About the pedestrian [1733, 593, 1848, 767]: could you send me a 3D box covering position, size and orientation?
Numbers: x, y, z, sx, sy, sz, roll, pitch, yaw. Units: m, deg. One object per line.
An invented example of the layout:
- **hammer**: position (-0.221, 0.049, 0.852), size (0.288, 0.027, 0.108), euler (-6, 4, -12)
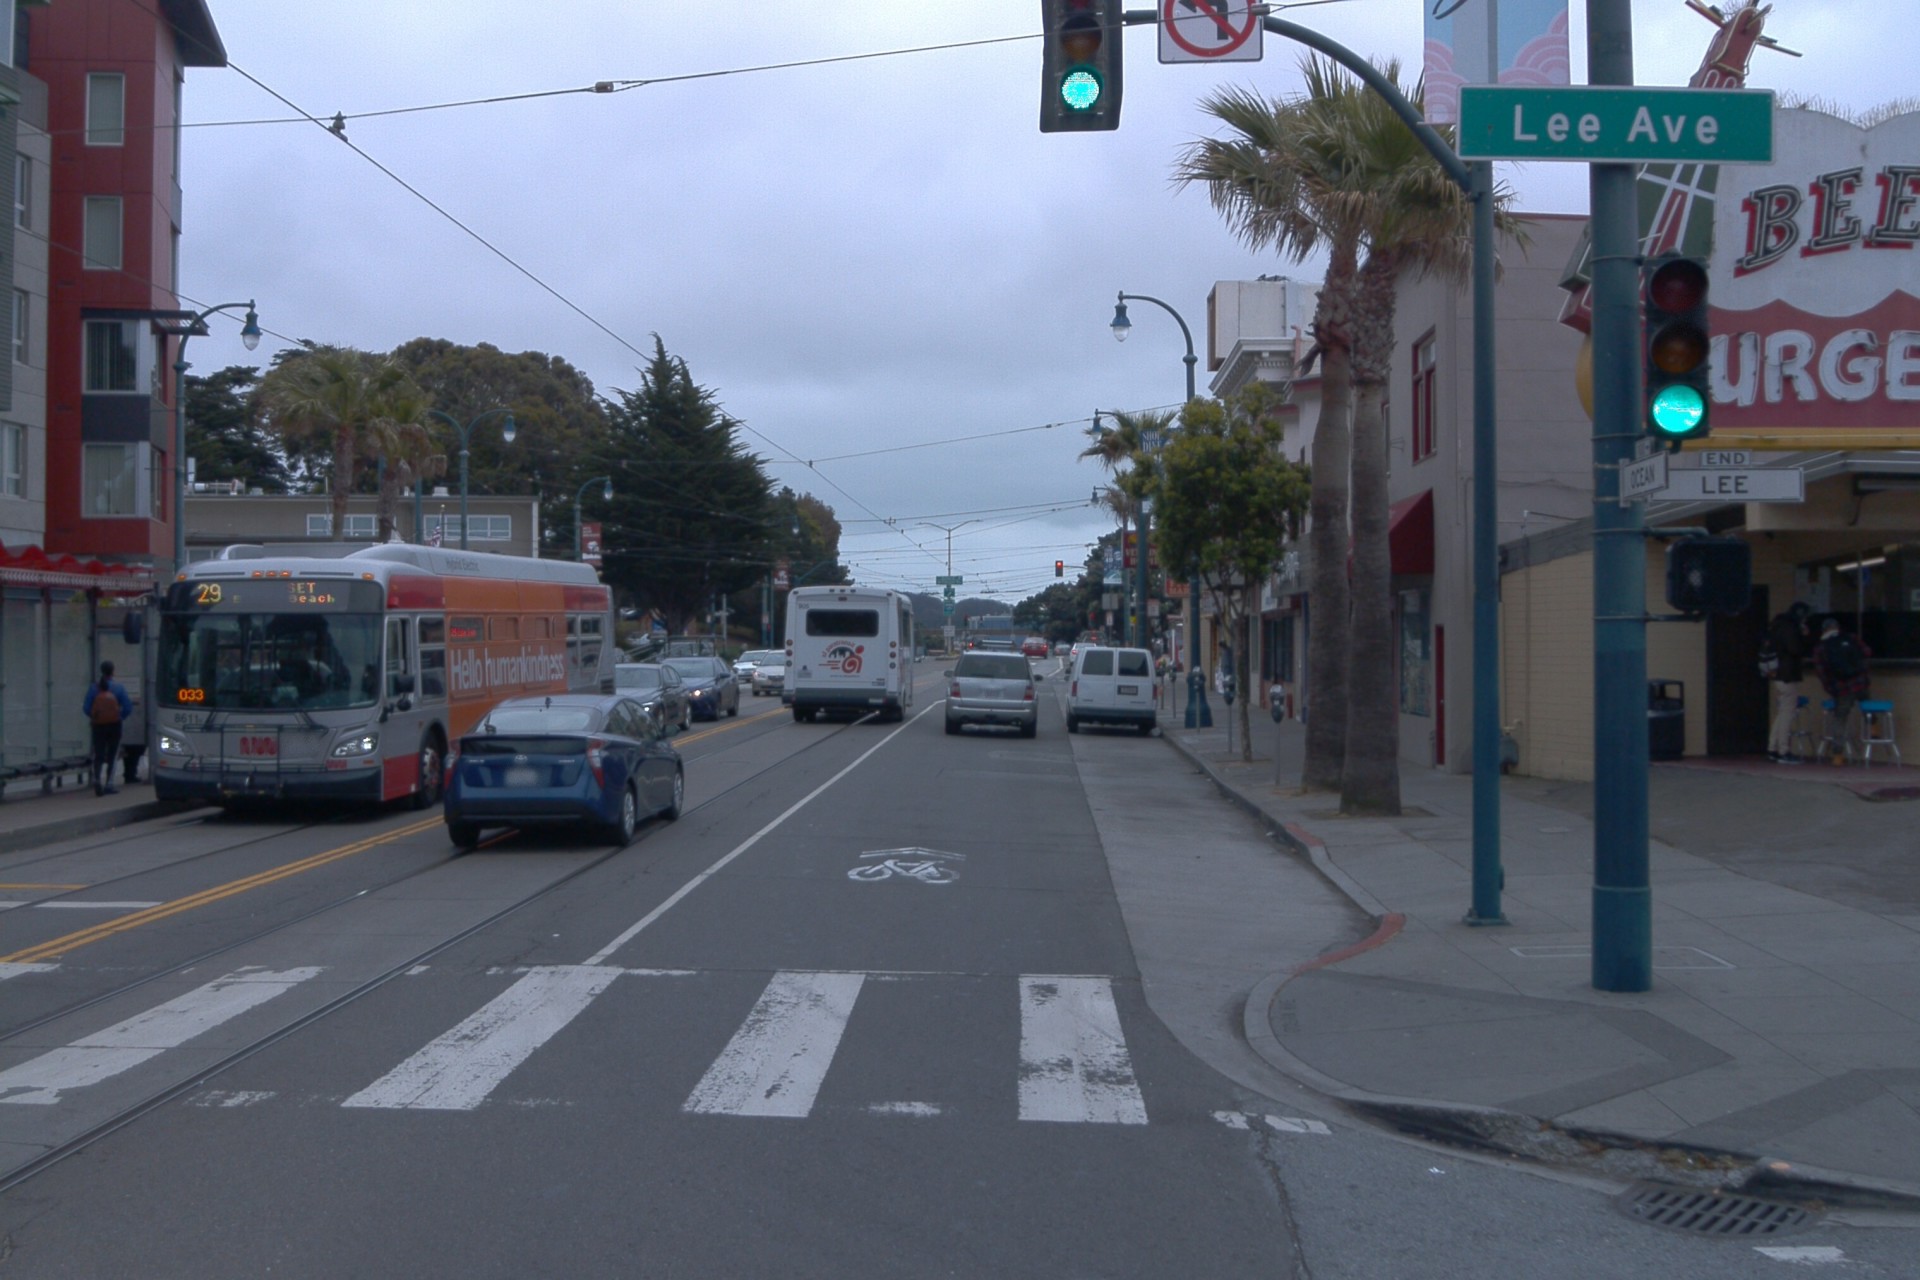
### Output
- **pedestrian**: position (9.601, 0.441, 23.808), size (0.830, 1.970, 0.941), euler (-1, 1, -14)

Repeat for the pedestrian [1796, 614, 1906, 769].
- **pedestrian**: position (10.048, 0.567, 23.213), size (0.819, 1.710, 0.859), euler (0, 1, -6)

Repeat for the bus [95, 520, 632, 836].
- **bus**: position (-7.378, 0.301, 28.318), size (3.228, 3.350, 12.909), euler (0, 1, 2)

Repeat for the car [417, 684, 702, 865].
- **car**: position (-4.031, 1.311, 21.438), size (1.972, 1.540, 4.258), euler (0, 1, 3)

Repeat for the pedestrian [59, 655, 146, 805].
- **pedestrian**: position (-10.100, 1.047, 24.234), size (0.691, 1.720, 0.677), euler (0, 1, 5)
